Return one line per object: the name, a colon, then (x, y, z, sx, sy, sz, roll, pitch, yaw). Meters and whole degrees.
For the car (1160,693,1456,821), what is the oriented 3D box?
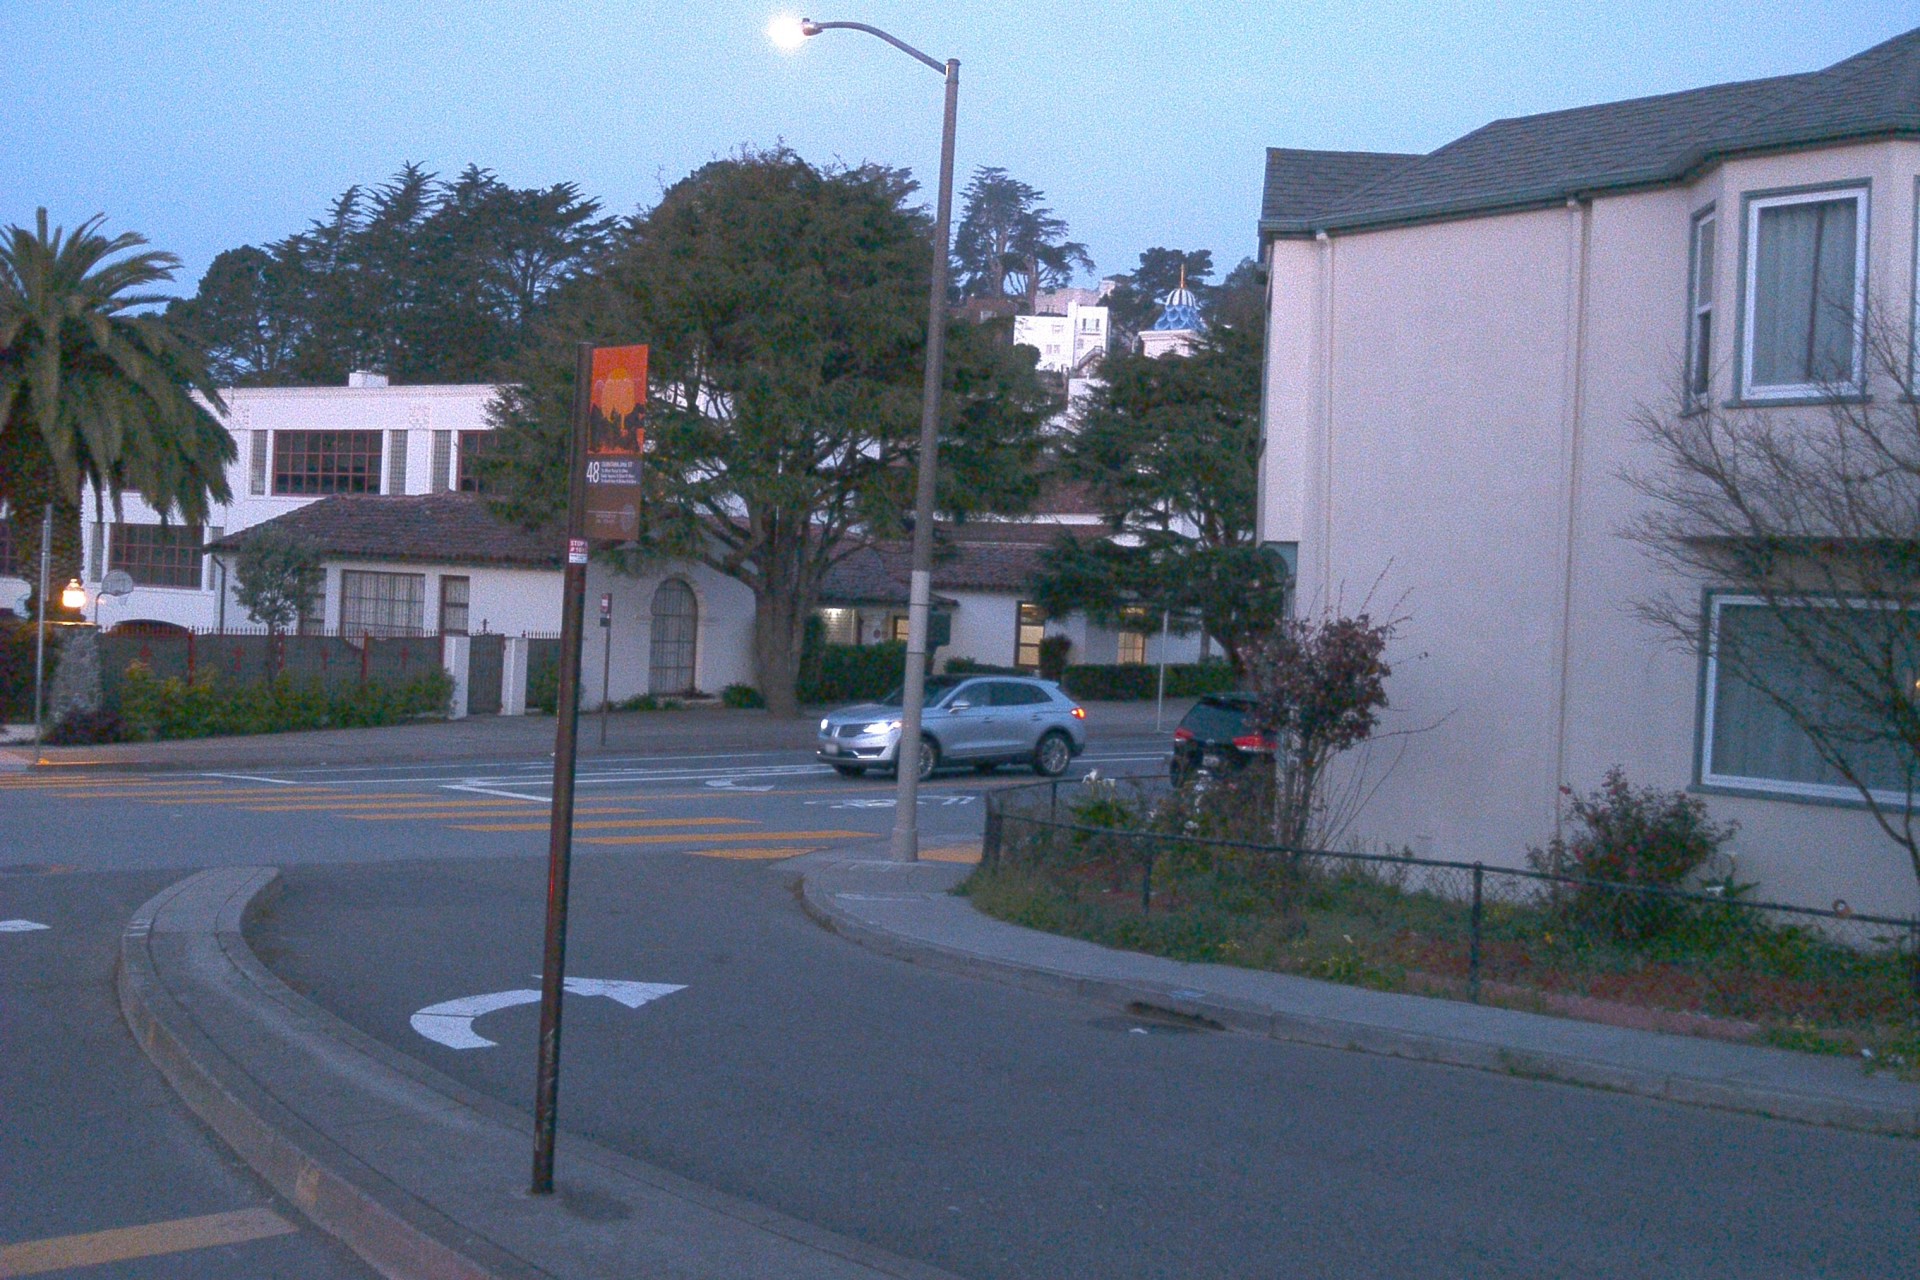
car: (5.027, 1.624, 30.201, 3.819, 1.660, 2.058, 1, 0, -34)

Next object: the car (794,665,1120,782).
car: (0.006, 1.294, 33.969, 5.027, 1.730, 2.150, 1, 0, -39)
